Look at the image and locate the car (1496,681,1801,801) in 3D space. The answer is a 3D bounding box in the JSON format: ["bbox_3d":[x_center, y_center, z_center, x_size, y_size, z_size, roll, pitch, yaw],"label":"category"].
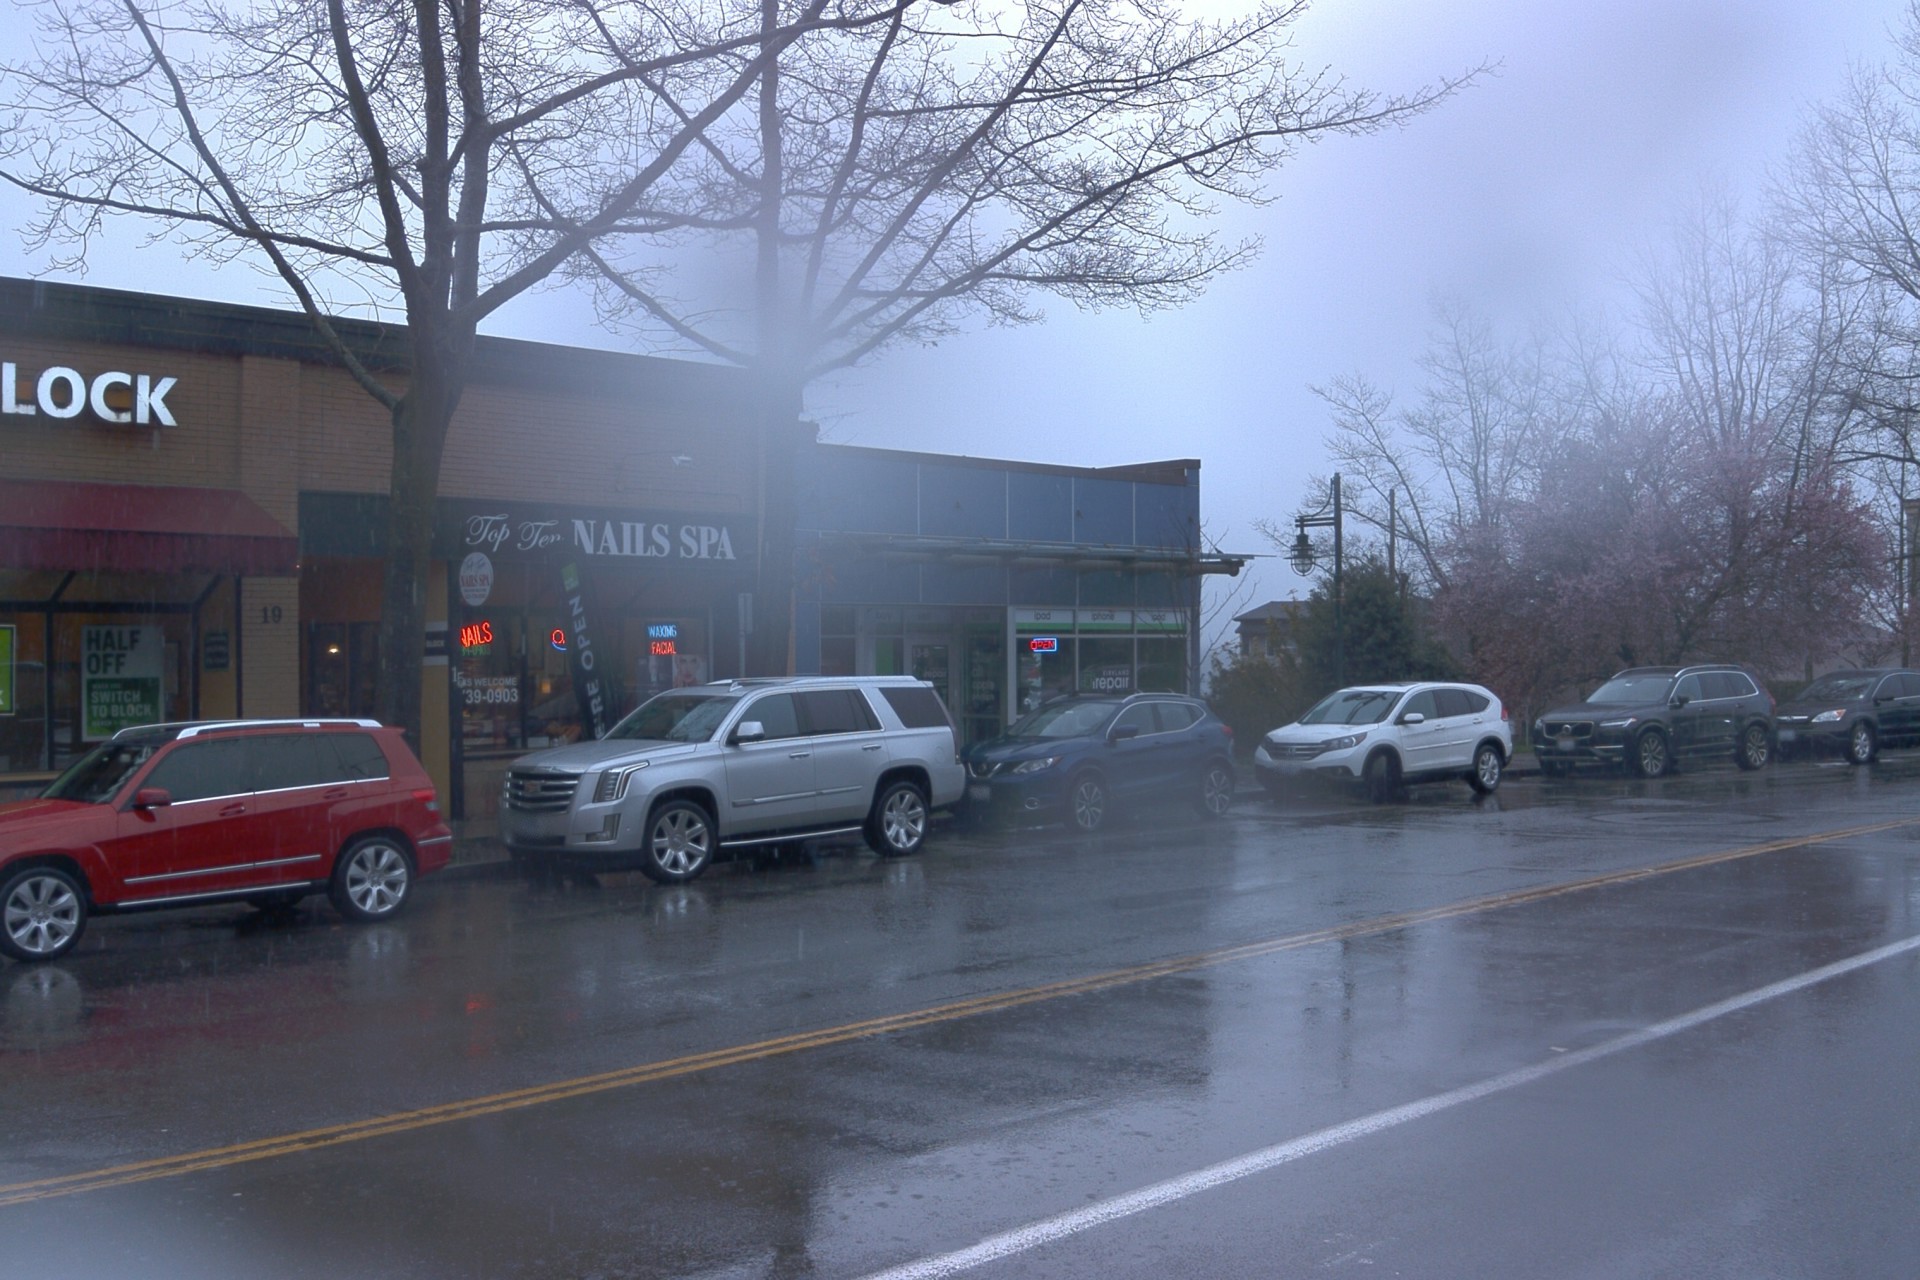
[{"bbox_3d":[11.412,1.596,34.053,5.296,1.690,2.144,-1,1,-37],"label":"car"}]

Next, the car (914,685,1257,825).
[{"bbox_3d":[1.622,1.331,25.280,1.999,1.400,4.335,1,1,40],"label":"car"}]

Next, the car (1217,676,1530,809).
[{"bbox_3d":[5.981,1.399,29.582,4.481,1.610,2.181,-1,1,-43],"label":"car"}]

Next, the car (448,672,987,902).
[{"bbox_3d":[-2.323,1.346,21.042,2.331,1.890,5.194,1,1,42],"label":"car"}]
